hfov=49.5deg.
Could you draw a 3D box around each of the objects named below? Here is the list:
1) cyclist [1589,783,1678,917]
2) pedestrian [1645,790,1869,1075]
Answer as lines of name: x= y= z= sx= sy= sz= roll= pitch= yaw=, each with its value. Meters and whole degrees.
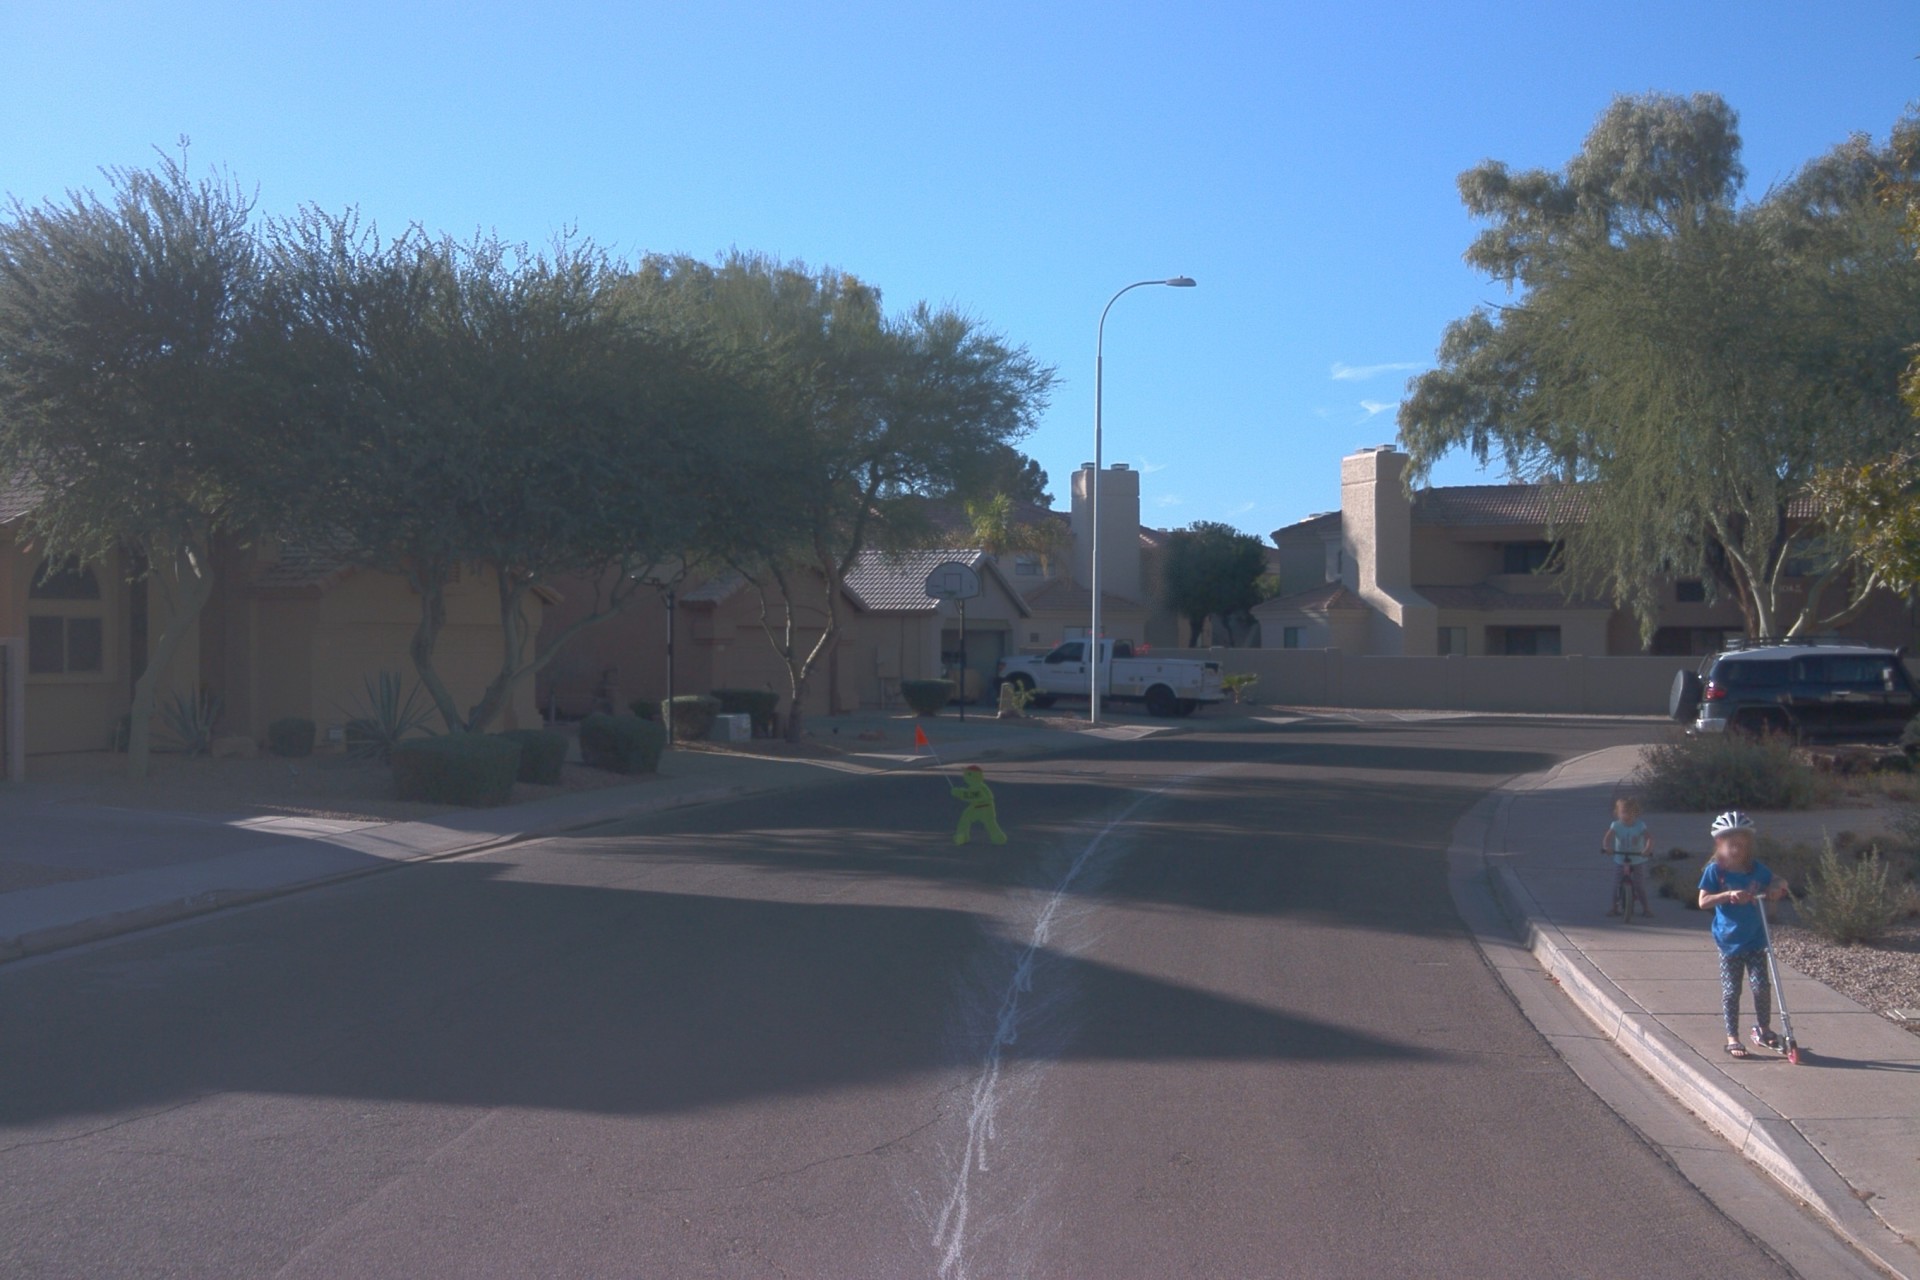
cyclist: x=4.910 y=1.520 z=15.193 sx=0.535 sy=0.890 sz=0.819 roll=0 pitch=0 yaw=12
pedestrian: x=3.864 y=1.387 z=10.164 sx=0.543 sy=1.230 sz=1.166 roll=0 pitch=0 yaw=-6
